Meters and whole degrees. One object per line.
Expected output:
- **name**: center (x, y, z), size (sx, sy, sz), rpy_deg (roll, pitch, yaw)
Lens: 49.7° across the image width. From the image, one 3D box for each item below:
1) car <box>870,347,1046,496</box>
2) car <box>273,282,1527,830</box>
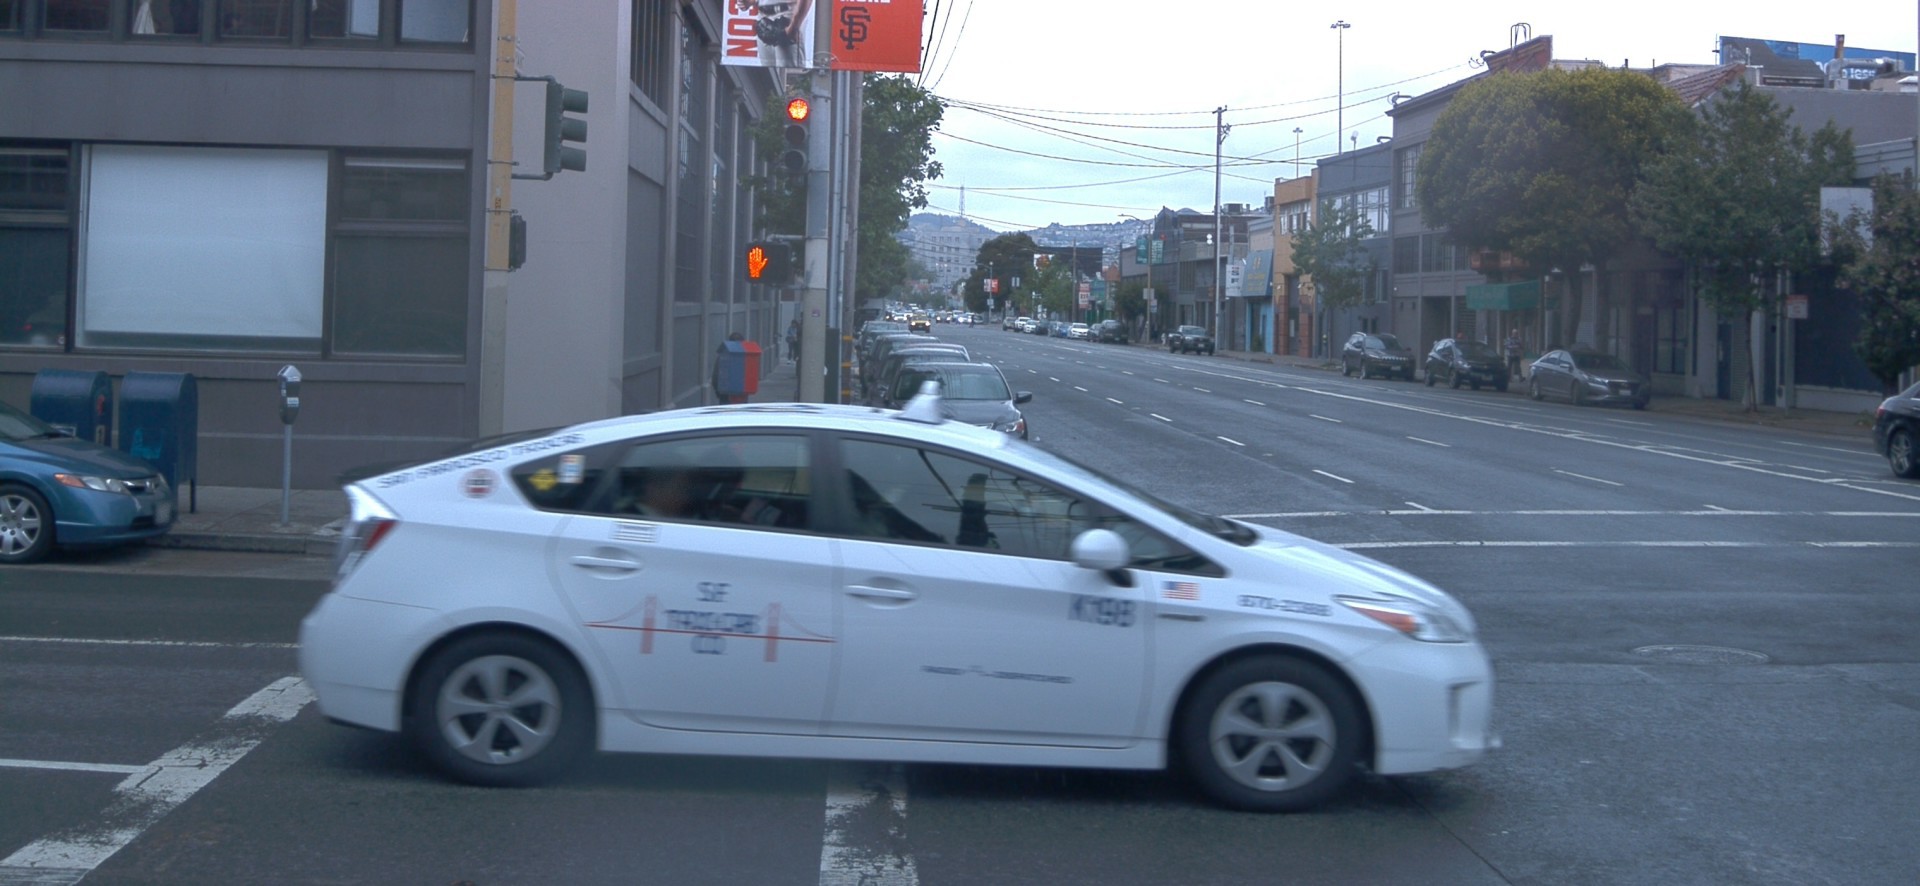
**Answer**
- **car**: center (-0.104, -0.354, 26.090), size (2.020, 1.454, 4.436), rpy_deg (0, 5, -2)
- **car**: center (-0.217, 0.333, 8.697), size (4.621, 1.947, 2.098), rpy_deg (0, 3, 0)
